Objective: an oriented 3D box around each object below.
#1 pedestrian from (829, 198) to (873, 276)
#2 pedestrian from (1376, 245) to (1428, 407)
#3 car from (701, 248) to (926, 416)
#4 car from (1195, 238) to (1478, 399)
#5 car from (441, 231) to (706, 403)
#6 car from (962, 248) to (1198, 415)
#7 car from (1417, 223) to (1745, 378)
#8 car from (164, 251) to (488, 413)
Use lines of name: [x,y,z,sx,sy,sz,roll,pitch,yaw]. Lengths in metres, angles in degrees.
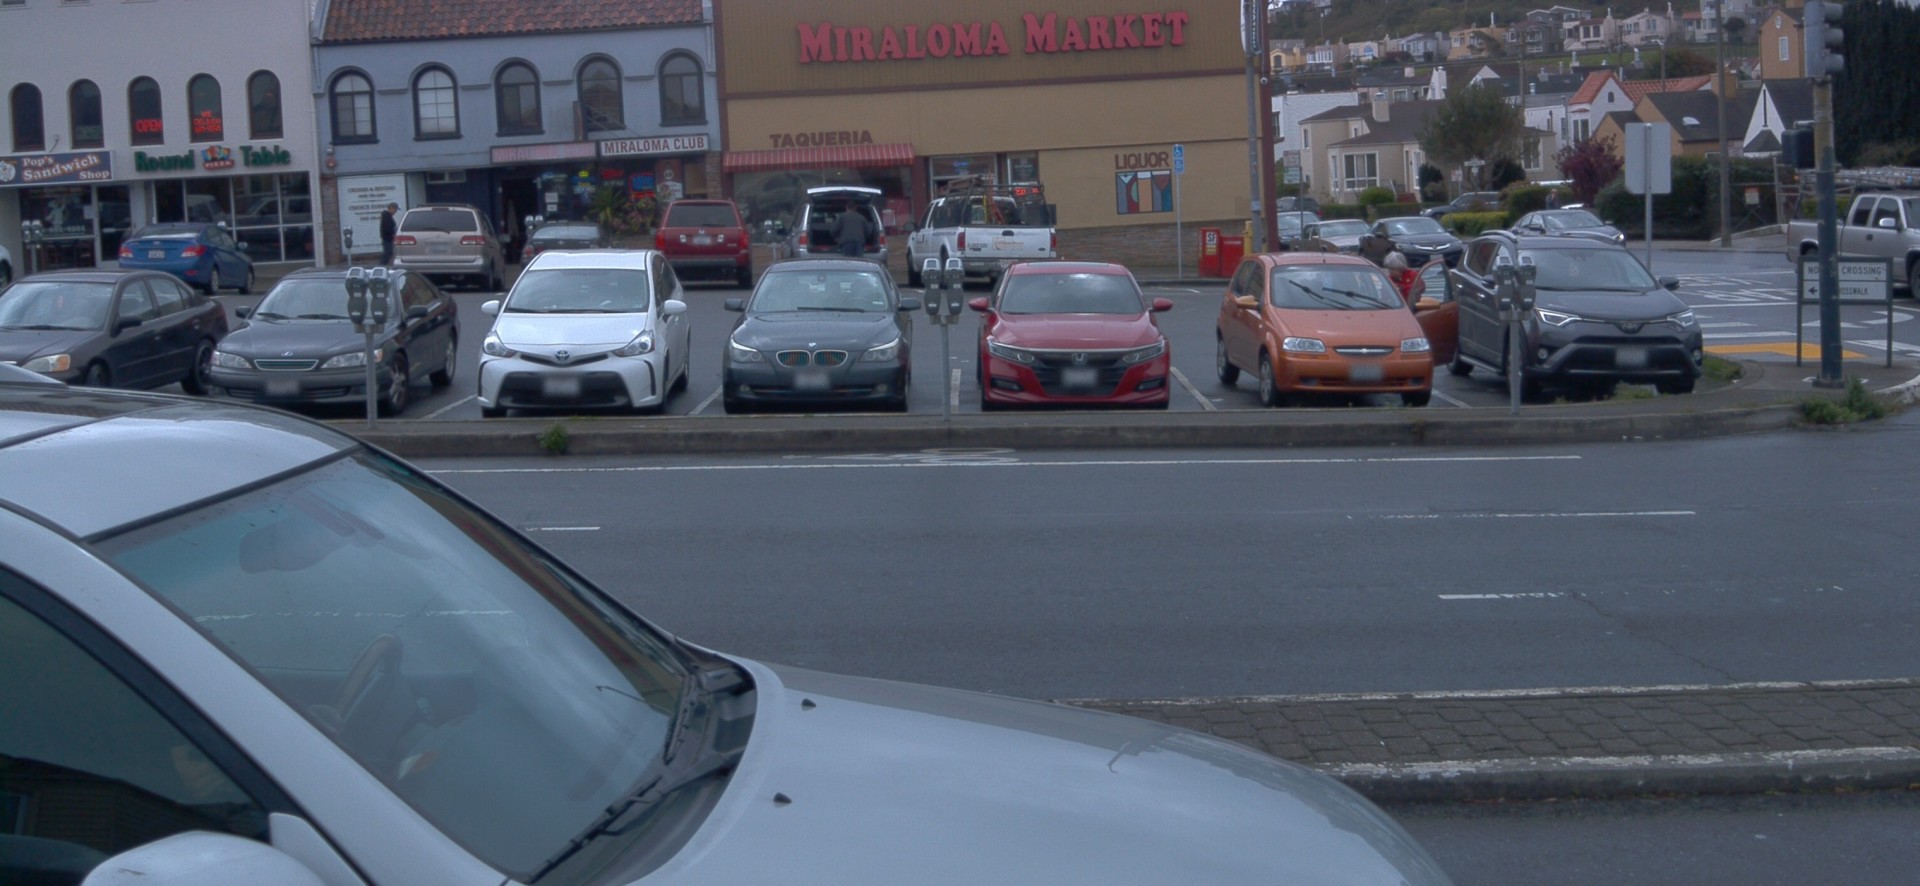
pedestrian: [-2.059,-3.913,39.035,0.705,1.457,0.722,-1,2,-14]
pedestrian: [4.707,-1.258,21.982,0.462,1.696,0.418,0,2,-1]
car: [-1.426,-1.258,21.663,2.112,1.461,4.574,0,6,-1]
car: [3.847,-1.395,21.803,2.049,1.462,4.037,0,6,-4]
car: [-3.835,-1.398,21.299,2.132,1.491,4.678,0,6,-4]
car: [1.138,-1.273,21.835,2.185,1.461,4.636,0,6,-1]
car: [6.620,-1.647,22.579,2.205,1.461,4.580,0,6,0]
car: [-6.487,-1.263,21.707,2.023,1.392,4.712,0,6,-1]
